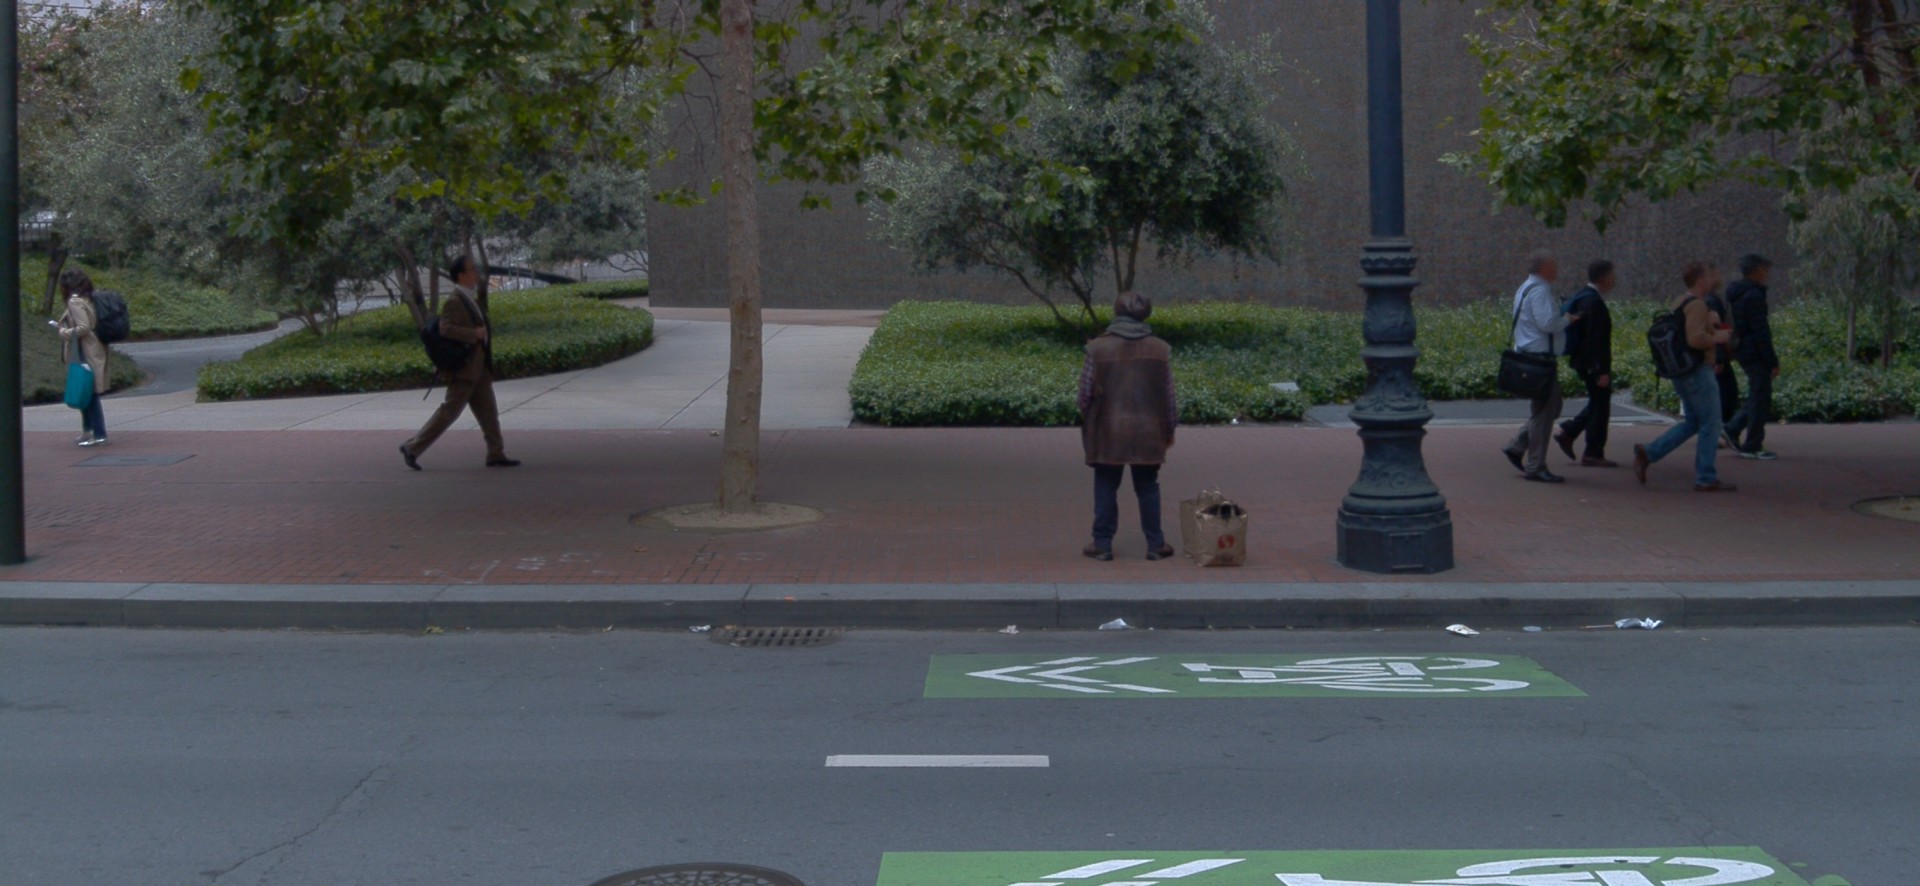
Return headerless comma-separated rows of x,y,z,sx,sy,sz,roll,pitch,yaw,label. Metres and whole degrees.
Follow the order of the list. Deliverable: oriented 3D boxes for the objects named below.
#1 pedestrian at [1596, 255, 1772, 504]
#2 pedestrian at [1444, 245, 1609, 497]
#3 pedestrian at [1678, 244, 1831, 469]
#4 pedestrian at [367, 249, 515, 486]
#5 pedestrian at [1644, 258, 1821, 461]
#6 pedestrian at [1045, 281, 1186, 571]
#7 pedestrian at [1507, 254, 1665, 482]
5.469,-0.500,15.705,1.075,1.827,0.737,0,2,1,pedestrian
4.410,-0.593,16.206,1.013,1.897,0.997,0,2,0,pedestrian
6.649,-0.750,17.380,0.935,1.827,0.894,0,2,0,pedestrian
-4.272,-0.657,17.140,1.099,1.877,1.032,0,2,-9,pedestrian
6.722,-0.754,18.065,1.173,1.697,0.931,0,2,-2,pedestrian
0.970,-0.130,13.067,0.791,1.757,0.642,0,2,-5,pedestrian
5.096,-0.637,16.918,1.013,1.797,0.887,0,2,-1,pedestrian
